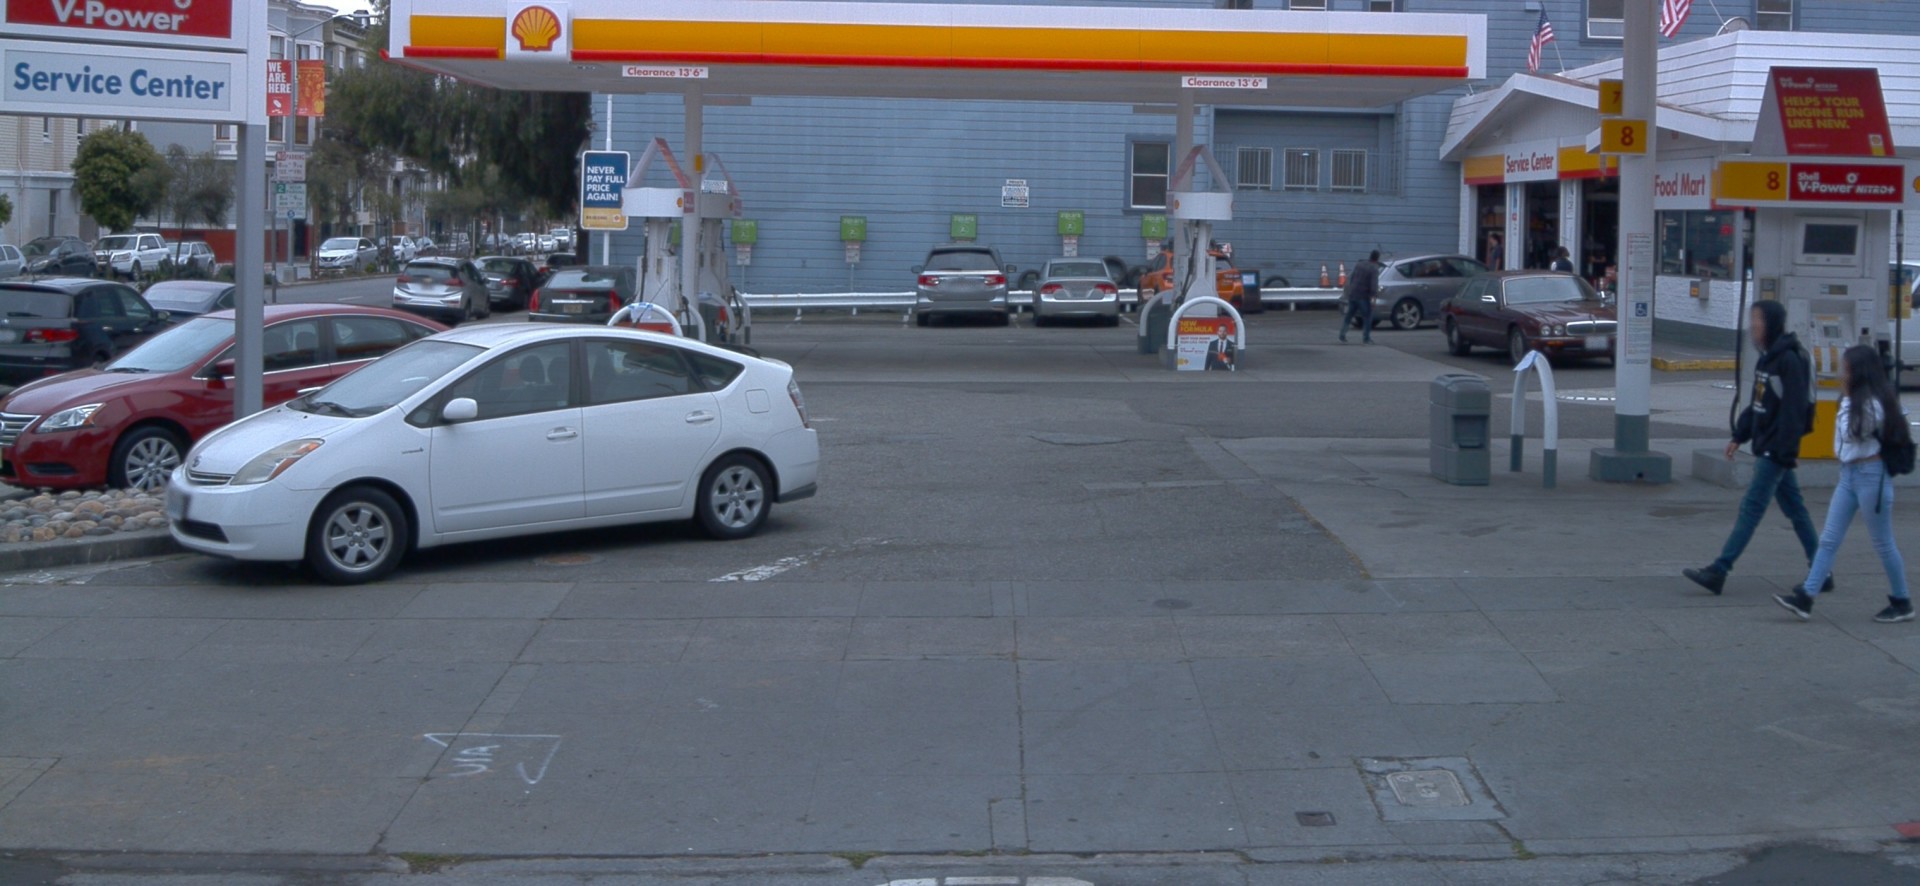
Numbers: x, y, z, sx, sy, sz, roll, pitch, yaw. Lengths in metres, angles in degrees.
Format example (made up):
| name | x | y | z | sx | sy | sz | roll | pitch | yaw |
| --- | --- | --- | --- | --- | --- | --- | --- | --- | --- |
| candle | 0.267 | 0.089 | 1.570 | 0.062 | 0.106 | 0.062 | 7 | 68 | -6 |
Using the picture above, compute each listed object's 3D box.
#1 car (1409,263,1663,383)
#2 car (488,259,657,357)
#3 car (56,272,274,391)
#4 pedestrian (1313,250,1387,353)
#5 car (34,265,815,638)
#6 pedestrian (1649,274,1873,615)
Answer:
| name | x | y | z | sx | sy | sz | roll | pitch | yaw |
| --- | --- | --- | --- | --- | --- | --- | --- | --- | --- |
| car | 8.686 | -1.922 | 31.677 | 2.140 | 1.511 | 5.249 | -1 | 6 | -4 |
| car | -6.792 | -2.454 | 36.662 | 1.977 | 1.511 | 4.539 | 0 | 6 | 2 |
| car | -12.632 | -1.857 | 33.082 | 1.911 | 1.611 | 4.489 | 0 | 6 | -2 |
| pedestrian | 6.826 | -2.491 | 36.096 | 0.962 | 1.747 | 0.858 | 2 | 3 | 39 |
| car | -3.438 | -0.142 | 13.656 | 4.545 | 1.922 | 2.095 | -5 | 6 | -37 |
| pedestrian | 4.562 | -0.028 | 11.806 | 0.910 | 1.840 | 0.884 | 0 | 2 | -4 |
